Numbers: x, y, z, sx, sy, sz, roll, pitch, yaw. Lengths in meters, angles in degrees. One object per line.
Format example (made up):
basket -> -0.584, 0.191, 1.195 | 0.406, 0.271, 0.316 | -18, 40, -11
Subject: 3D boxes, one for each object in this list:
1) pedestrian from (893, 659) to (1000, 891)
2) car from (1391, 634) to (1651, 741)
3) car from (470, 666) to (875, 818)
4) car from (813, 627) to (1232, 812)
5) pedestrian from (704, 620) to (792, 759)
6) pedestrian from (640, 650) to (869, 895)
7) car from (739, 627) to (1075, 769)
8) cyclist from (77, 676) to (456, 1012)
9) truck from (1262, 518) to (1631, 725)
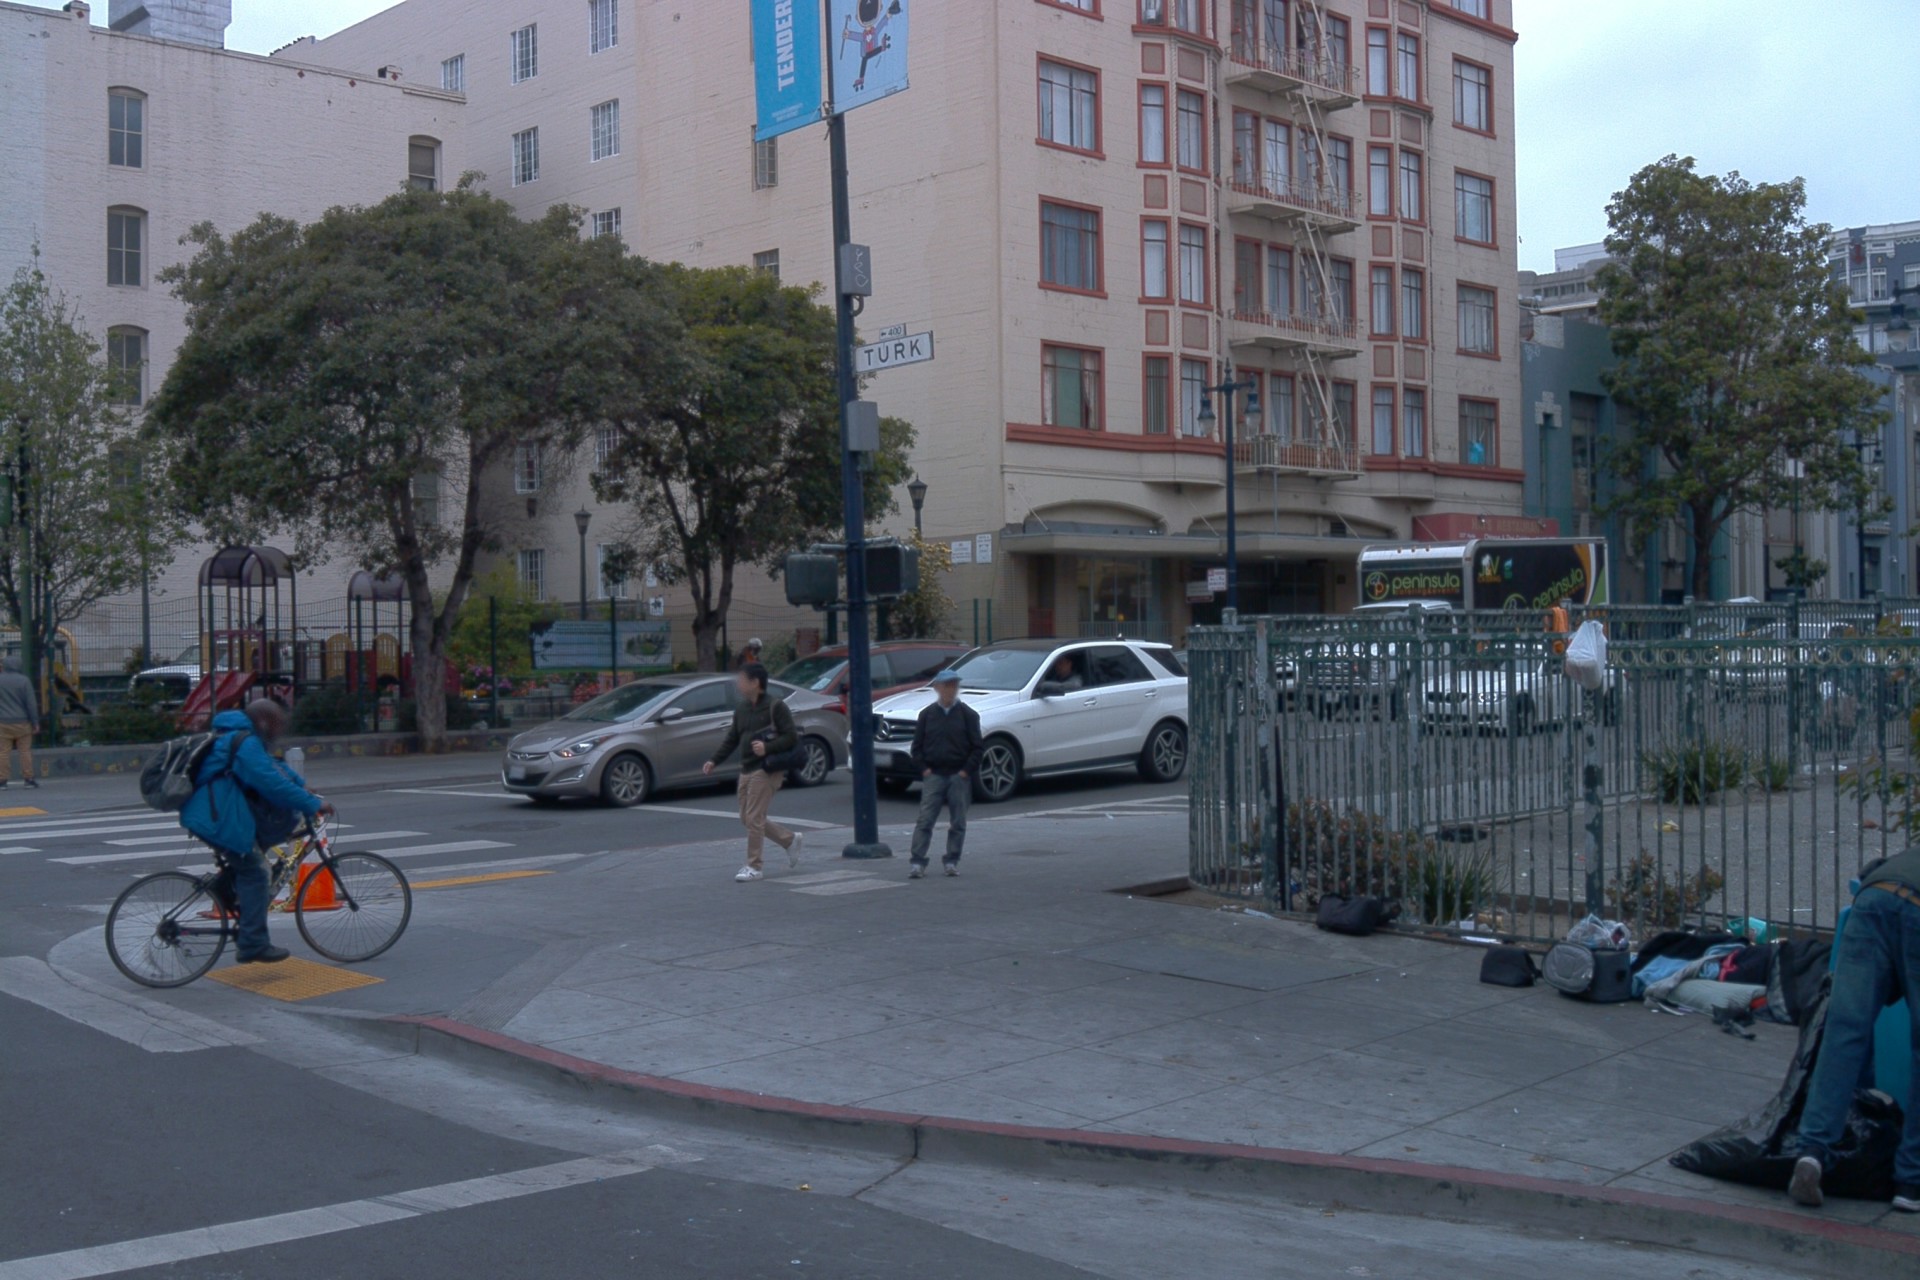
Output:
pedestrian -> -0.093, 0.983, 15.390 | 0.776, 1.670, 0.798 | 0, 1, 1
car -> 8.867, 0.685, 32.412 | 1.930, 1.520, 4.584 | 1, 1, 45
car -> -3.321, 1.122, 24.474 | 4.454, 1.540, 1.957 | -1, 1, -44
car -> 0.820, 0.826, 24.218 | 4.775, 1.930, 2.184 | -1, 1, -44
pedestrian -> -3.443, 0.780, 33.497 | 1.047, 2.200, 1.032 | -1, 1, -35
pedestrian -> -1.548, 0.950, 15.578 | 1.309, 1.720, 1.115 | -1, 1, -40
car -> -0.728, 0.806, 31.542 | 5.045, 1.980, 2.095 | -1, 1, -44
cyclist -> -4.015, 1.111, 11.954 | 1.952, 1.750, 1.013 | 0, 1, -26
truck -> 8.953, -0.344, 37.557 | 7.101, 3.420, 2.936 | -1, 1, -41
